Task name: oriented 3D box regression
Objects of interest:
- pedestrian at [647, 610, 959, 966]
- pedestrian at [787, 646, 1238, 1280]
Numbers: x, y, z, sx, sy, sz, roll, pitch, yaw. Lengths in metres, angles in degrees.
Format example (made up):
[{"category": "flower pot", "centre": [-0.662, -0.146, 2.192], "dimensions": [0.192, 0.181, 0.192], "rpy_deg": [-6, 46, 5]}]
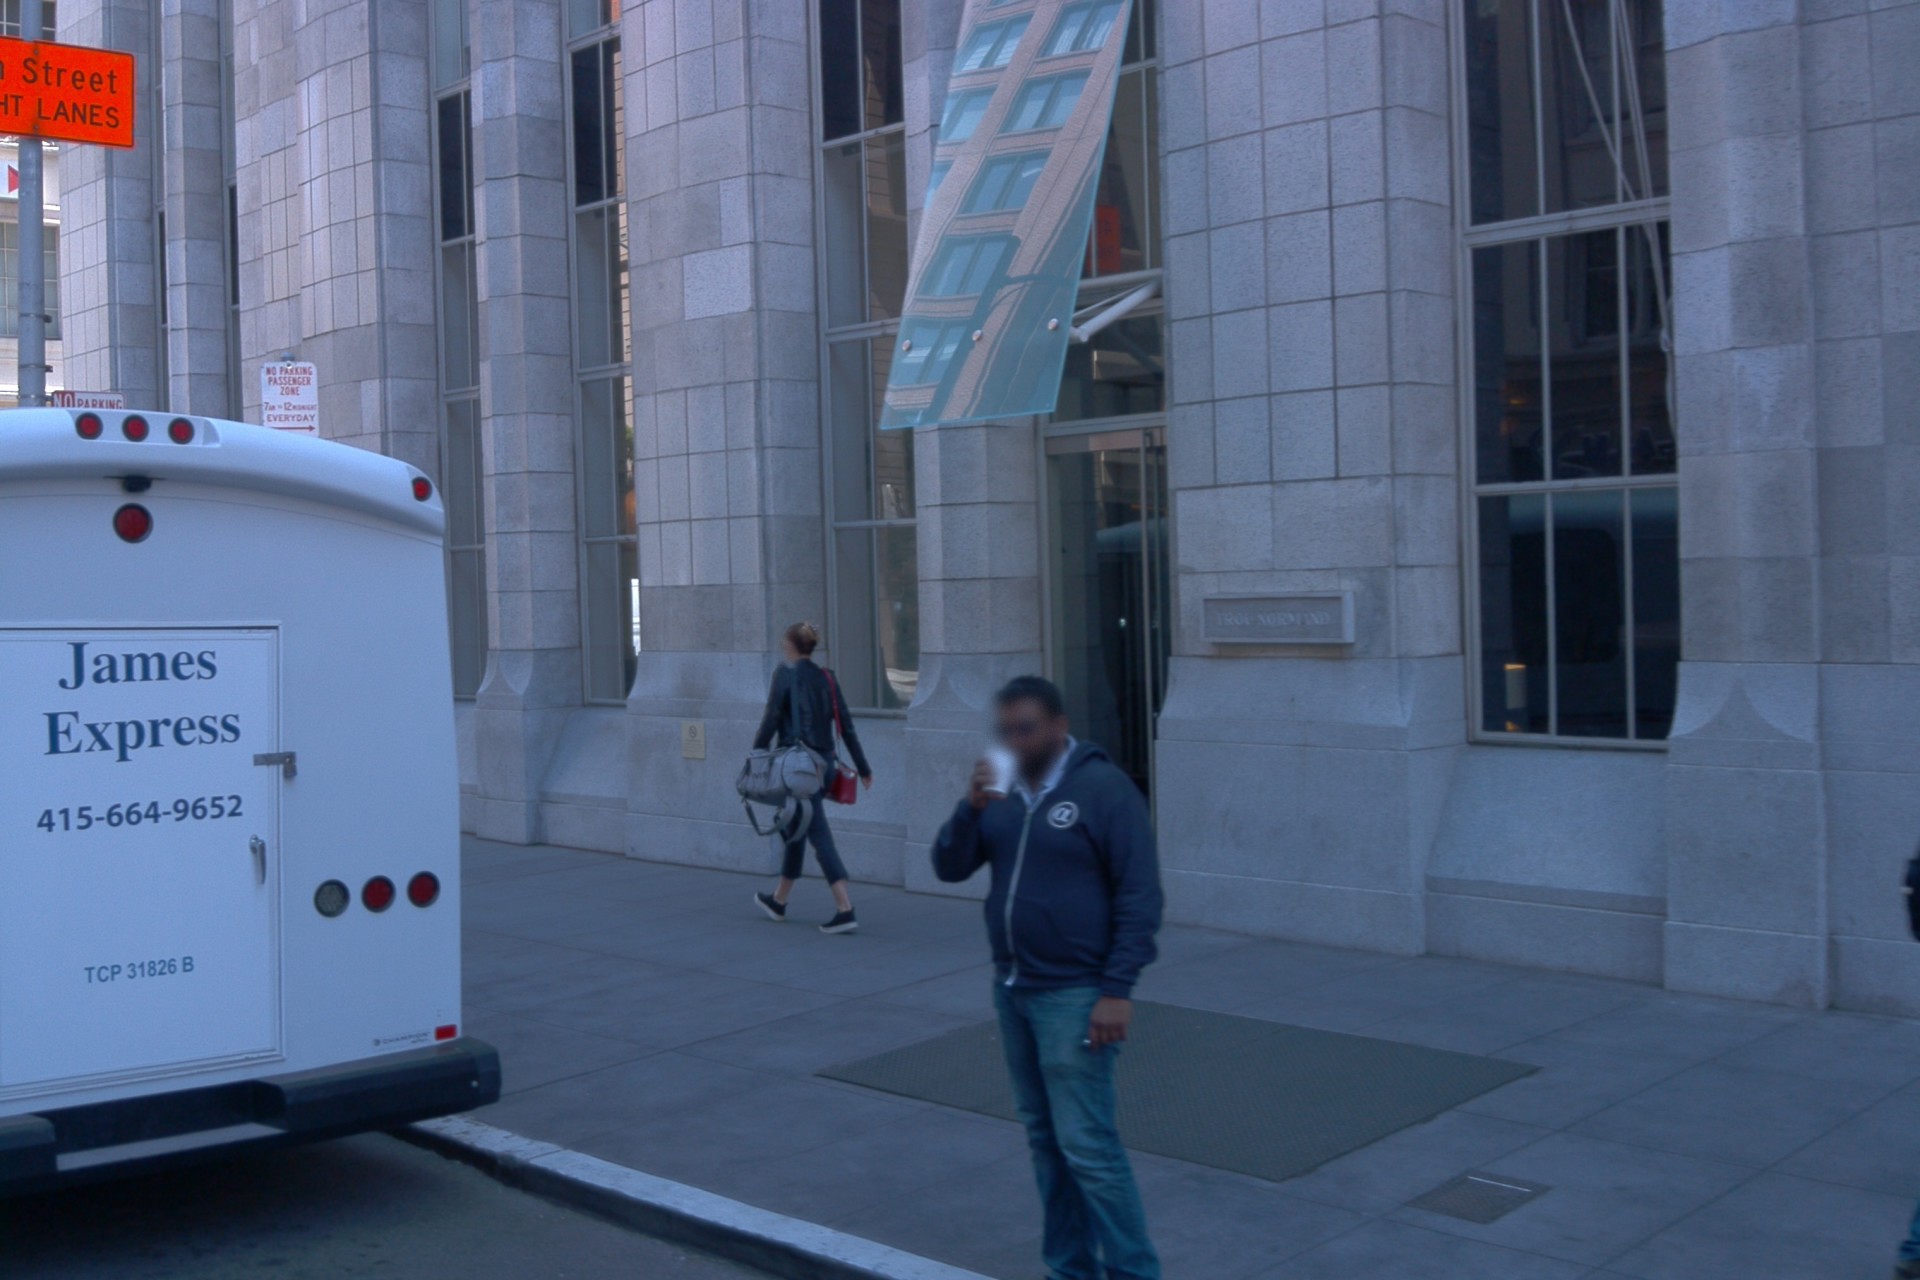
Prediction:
[{"category": "pedestrian", "centre": [-0.886, 0.761, 11.574], "dimensions": [1.324, 1.856, 1.147], "rpy_deg": [0, 0, 41]}, {"category": "pedestrian", "centre": [0.160, 0.966, 5.718], "dimensions": [0.892, 1.886, 0.922], "rpy_deg": [0, 0, 34]}]
